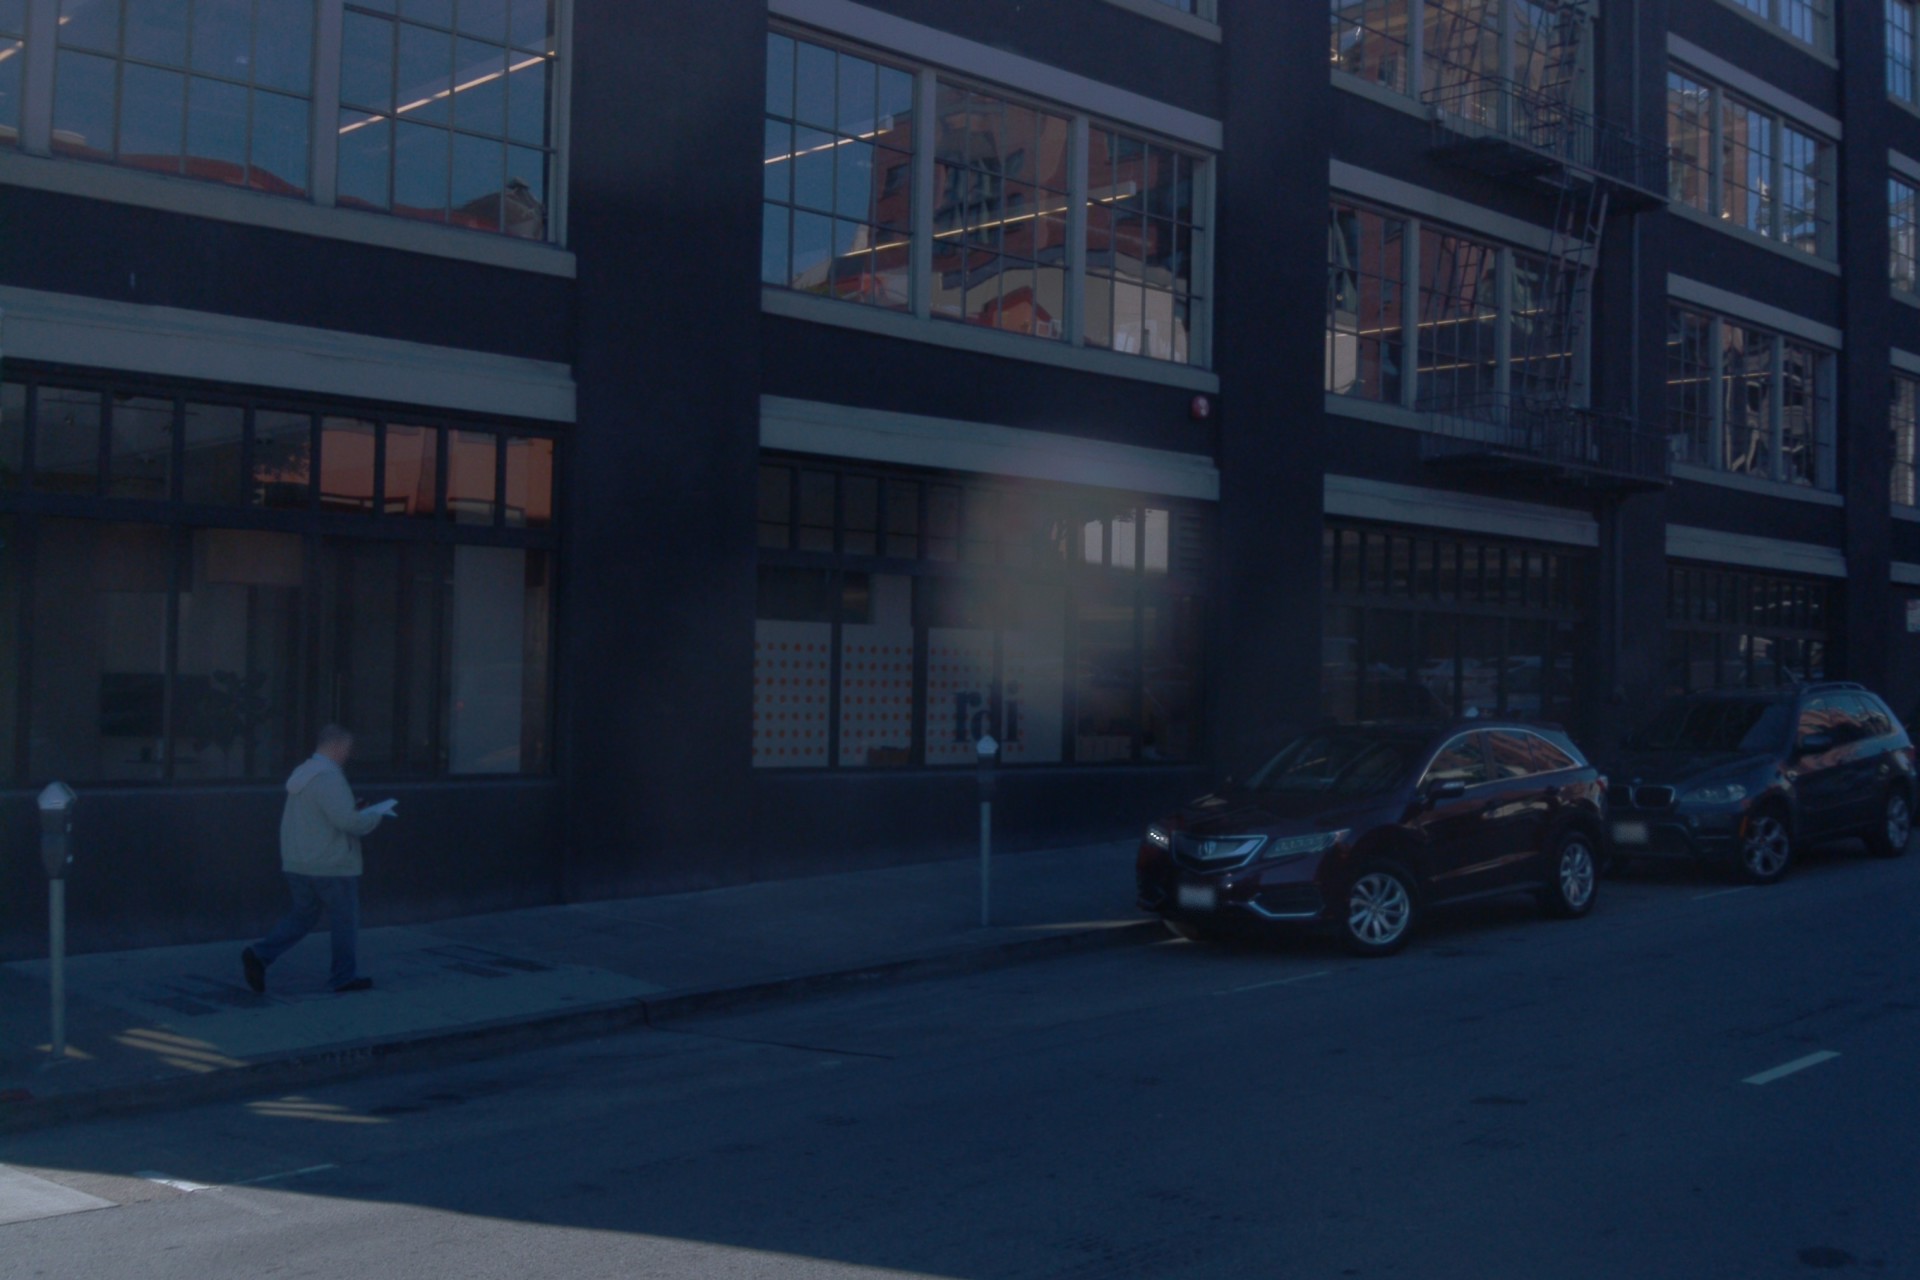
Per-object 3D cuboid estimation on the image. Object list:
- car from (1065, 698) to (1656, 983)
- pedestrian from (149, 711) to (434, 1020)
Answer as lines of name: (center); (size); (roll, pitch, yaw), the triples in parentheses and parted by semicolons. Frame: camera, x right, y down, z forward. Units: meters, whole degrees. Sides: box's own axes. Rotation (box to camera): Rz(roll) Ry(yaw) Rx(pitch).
car: (3.252, 1.396, 16.187); (4.759, 1.820, 2.197); (1, -1, -45)
pedestrian: (-4.001, 1.292, 12.445); (1.039, 1.690, 1.254); (0, -1, 45)
